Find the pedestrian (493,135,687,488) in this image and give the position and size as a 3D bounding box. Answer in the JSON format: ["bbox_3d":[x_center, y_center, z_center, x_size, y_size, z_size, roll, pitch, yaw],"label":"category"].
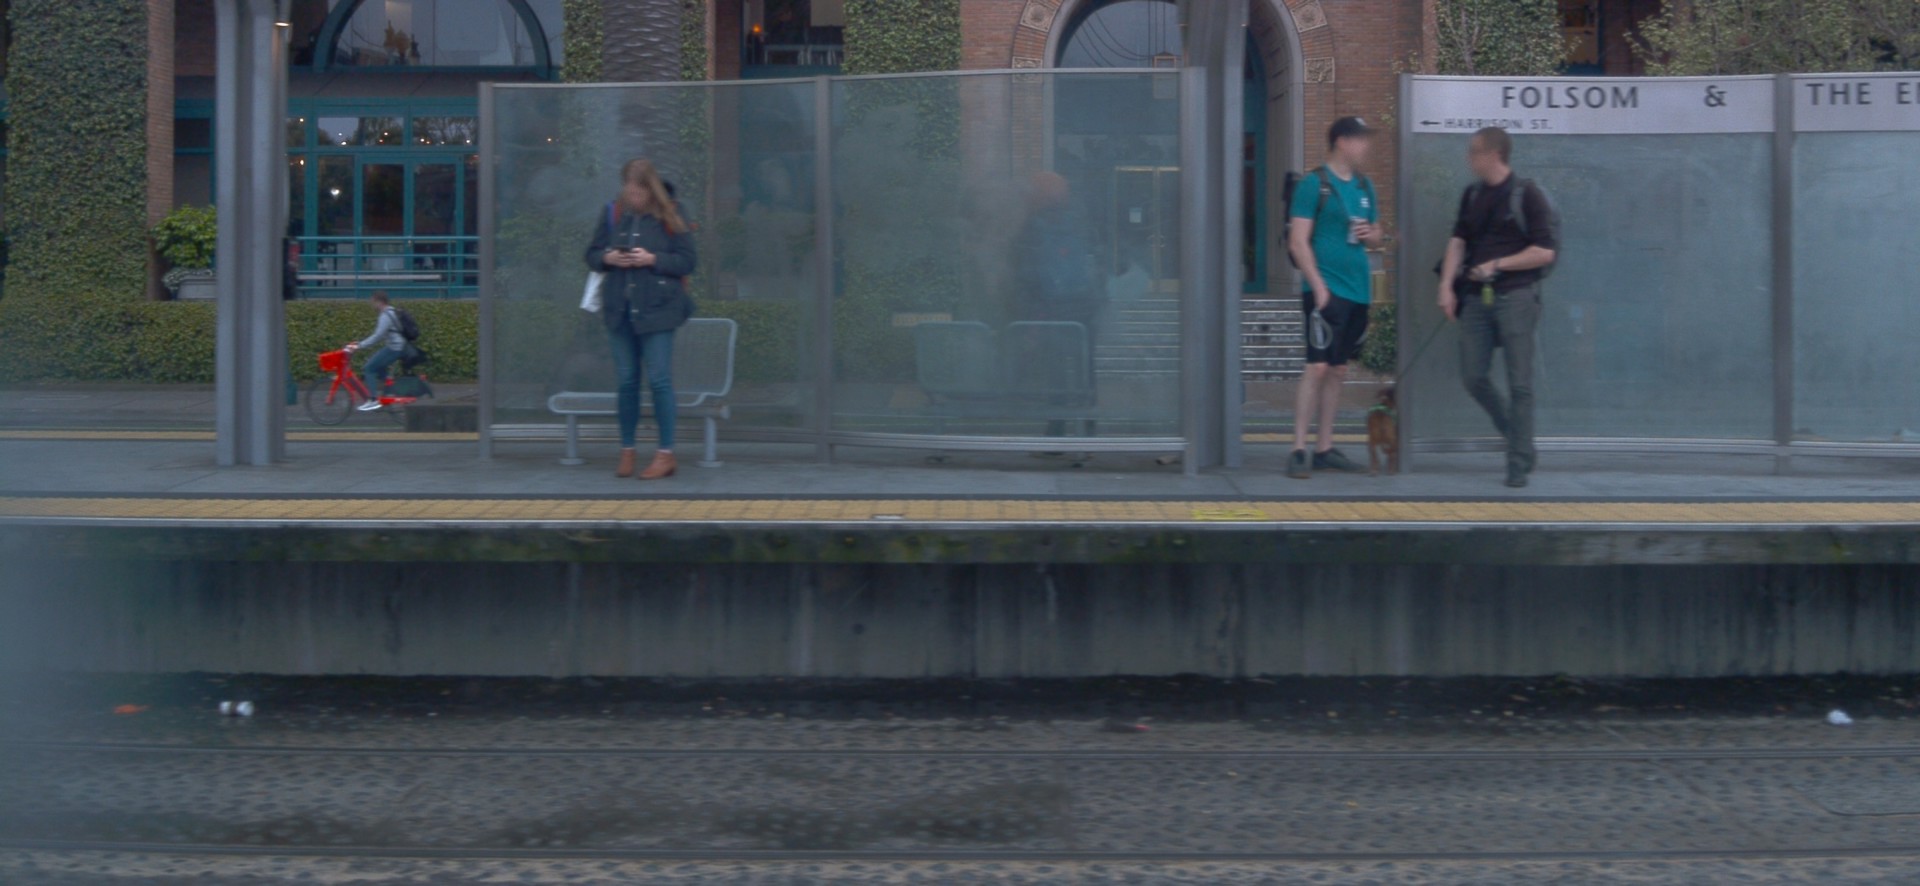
[{"bbox_3d":[-1.913,-0.705,10.840,0.835,1.770,0.873,0,1,1],"label":"pedestrian"}]

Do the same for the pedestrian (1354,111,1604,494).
[{"bbox_3d":[2.710,-0.757,10.862,0.899,1.890,0.892,-1,1,-31],"label":"pedestrian"}]

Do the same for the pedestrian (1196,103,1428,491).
[{"bbox_3d":[1.882,-0.801,11.102,0.895,1.960,0.833,-1,1,-38],"label":"pedestrian"}]

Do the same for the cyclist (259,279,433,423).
[{"bbox_3d":[-8.200,-1.245,27.770,2.050,1.870,0.887,0,1,-1],"label":"cyclist"}]

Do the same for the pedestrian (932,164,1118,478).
[{"bbox_3d":[0.377,-0.703,11.540,0.892,1.670,0.836,0,1,12],"label":"pedestrian"}]
